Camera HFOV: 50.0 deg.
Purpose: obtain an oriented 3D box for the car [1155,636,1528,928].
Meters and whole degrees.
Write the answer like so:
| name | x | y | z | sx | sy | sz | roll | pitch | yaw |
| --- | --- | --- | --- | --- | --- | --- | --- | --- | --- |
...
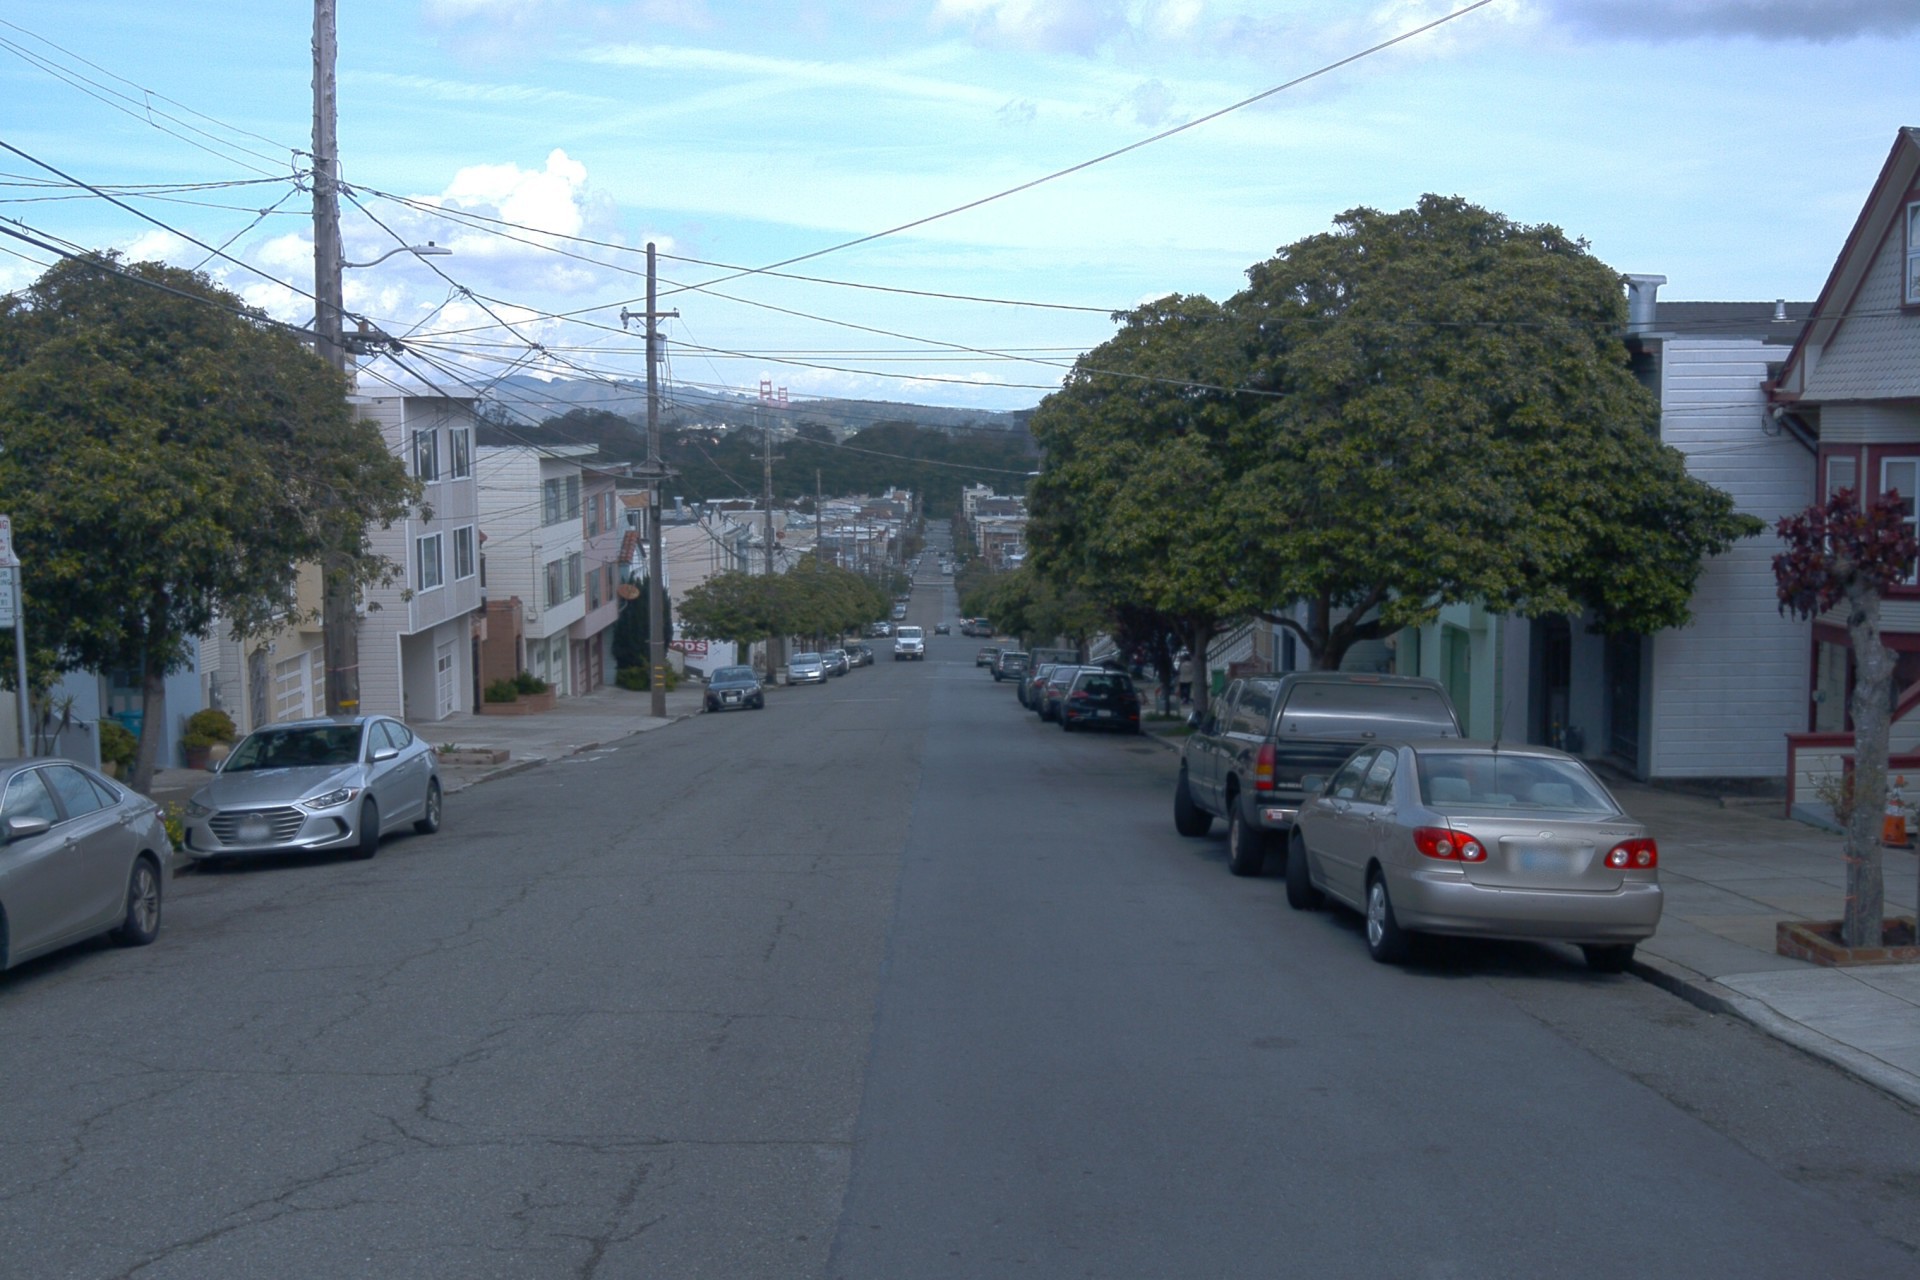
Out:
| name | x | y | z | sx | sy | sz | roll | pitch | yaw |
| --- | --- | --- | --- | --- | --- | --- | --- | --- | --- |
| car | 3.466 | 1.184 | 20.148 | 2.419 | 2.430 | 5.894 | 0 | 0 | -2 |

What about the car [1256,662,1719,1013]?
| name | x | y | z | sx | sy | sz | roll | pitch | yaw |
| --- | --- | --- | --- | --- | --- | --- | --- | --- | --- |
| car | 3.538 | 1.224 | 14.804 | 2.003 | 2.077 | 4.544 | 0 | 0 | -2 |

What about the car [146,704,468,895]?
| name | x | y | z | sx | sy | sz | roll | pitch | yaw |
| --- | --- | --- | --- | --- | --- | --- | --- | --- | --- |
| car | -6.697 | 1.570 | 21.720 | 2.028 | 1.650 | 4.652 | 0 | 0 | -2 |
